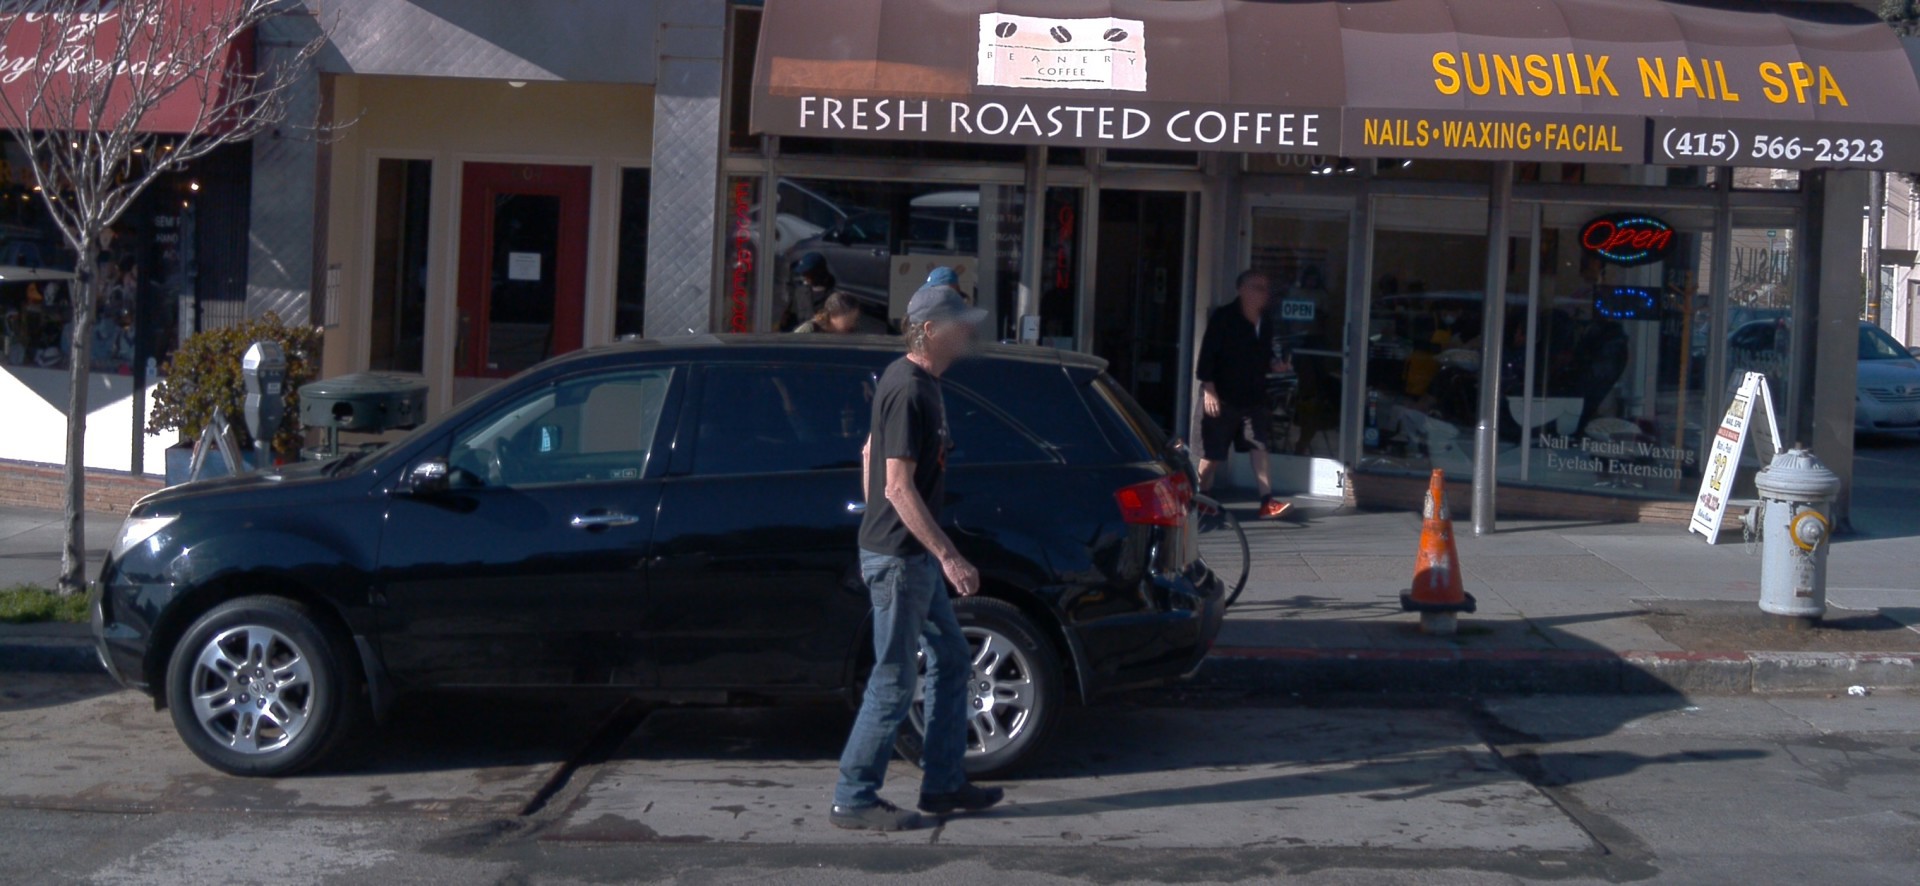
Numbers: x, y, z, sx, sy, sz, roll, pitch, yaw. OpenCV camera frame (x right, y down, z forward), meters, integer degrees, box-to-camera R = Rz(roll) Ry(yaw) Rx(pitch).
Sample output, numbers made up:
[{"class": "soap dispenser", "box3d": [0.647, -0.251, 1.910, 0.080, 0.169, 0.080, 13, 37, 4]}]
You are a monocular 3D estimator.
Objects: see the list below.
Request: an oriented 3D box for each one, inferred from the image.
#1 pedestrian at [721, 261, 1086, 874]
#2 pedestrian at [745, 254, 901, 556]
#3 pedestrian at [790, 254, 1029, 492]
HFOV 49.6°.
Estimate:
[{"class": "pedestrian", "box3d": [-0.232, 0.376, 7.398, 1.195, 2.006, 0.874, 0, 2, -8]}, {"class": "pedestrian", "box3d": [-0.888, -0.284, 13.423, 0.688, 1.856, 0.750, -1, 2, -38]}, {"class": "pedestrian", "box3d": [-0.319, -0.493, 13.633, 1.337, 1.457, 0.883, 2, 3, 15]}]
